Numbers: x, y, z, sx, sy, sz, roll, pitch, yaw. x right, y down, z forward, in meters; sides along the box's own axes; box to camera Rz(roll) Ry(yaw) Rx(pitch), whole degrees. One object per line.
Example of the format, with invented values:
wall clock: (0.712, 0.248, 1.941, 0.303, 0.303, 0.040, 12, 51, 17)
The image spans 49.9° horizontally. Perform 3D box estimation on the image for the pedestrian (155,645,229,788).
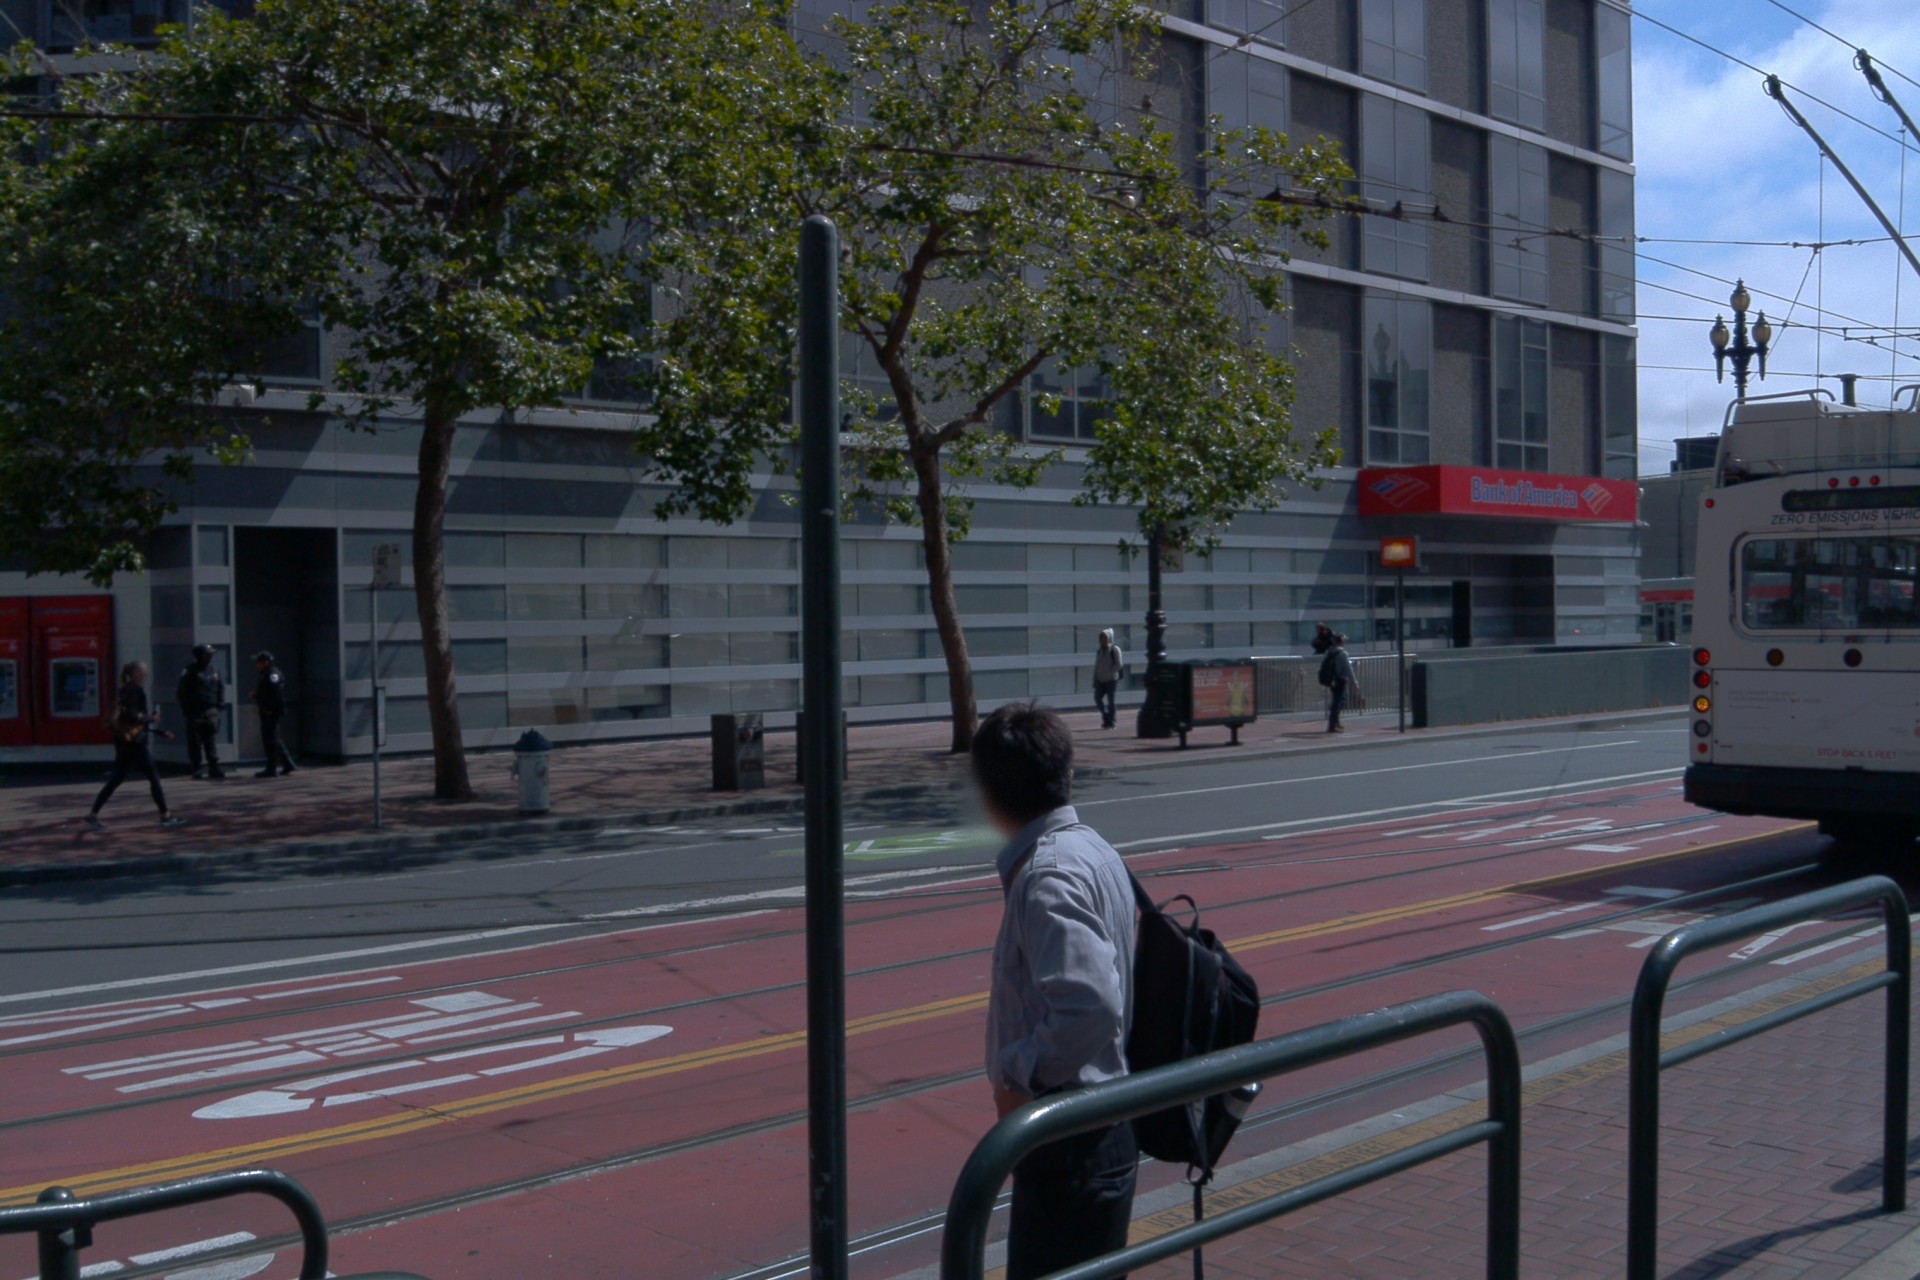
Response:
pedestrian: (-9.832, 0.963, 26.419, 0.724, 1.770, 0.681, -1, 1, -36)

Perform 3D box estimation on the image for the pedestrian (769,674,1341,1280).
pedestrian: (0.204, 0.952, 3.747, 0.801, 1.750, 0.806, 0, 1, 23)

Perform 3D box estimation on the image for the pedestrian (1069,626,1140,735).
pedestrian: (2.452, 0.673, 34.917, 0.978, 1.810, 0.733, -1, 1, -44)

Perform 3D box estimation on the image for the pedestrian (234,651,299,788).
pedestrian: (-8.911, 1.003, 26.498, 0.695, 1.700, 0.801, 0, 1, -25)

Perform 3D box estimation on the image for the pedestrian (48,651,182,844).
pedestrian: (-8.573, 1.059, 20.935, 1.139, 1.870, 0.843, -1, 1, -31)

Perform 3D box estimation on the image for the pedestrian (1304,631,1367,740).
pedestrian: (6.197, 0.737, 34.057, 0.721, 1.770, 0.811, 1, 1, 42)
